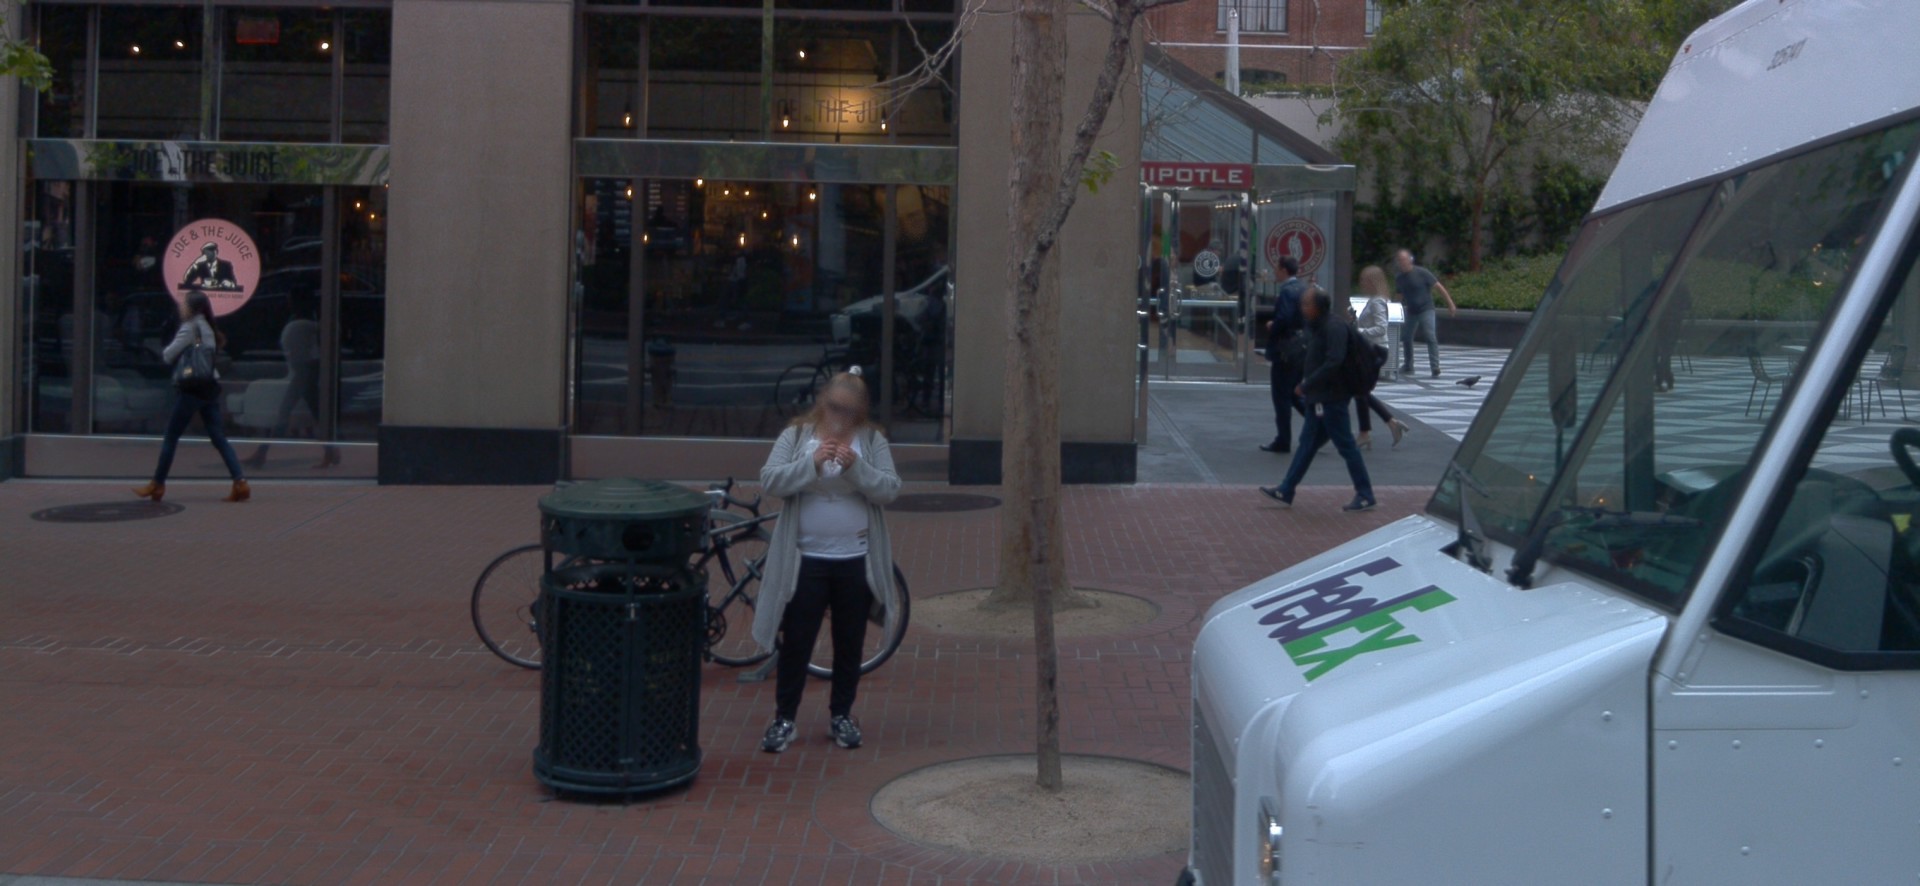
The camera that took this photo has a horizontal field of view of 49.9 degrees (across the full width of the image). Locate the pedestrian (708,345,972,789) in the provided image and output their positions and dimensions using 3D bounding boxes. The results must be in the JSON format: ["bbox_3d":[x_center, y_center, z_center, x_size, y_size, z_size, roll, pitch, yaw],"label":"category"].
[{"bbox_3d":[-0.481,0.466,8.698,0.904,1.701,0.918,0,1,11],"label":"pedestrian"}]

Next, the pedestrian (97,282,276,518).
[{"bbox_3d":[-5.832,-0.355,15.606,0.937,1.711,0.903,0,1,9],"label":"pedestrian"}]

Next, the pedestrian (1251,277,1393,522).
[{"bbox_3d":[2.675,-0.346,15.316,0.894,1.761,0.753,0,1,-3],"label":"pedestrian"}]

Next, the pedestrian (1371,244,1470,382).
[{"bbox_3d":[6.140,-1.759,27.504,0.878,1.791,1.059,1,1,42],"label":"pedestrian"}]

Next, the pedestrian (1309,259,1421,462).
[{"bbox_3d":[3.742,-0.788,19.024,0.981,1.801,0.891,0,1,13],"label":"pedestrian"}]

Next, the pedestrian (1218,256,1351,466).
[{"bbox_3d":[2.946,-0.777,18.738,0.792,1.841,0.944,1,1,45],"label":"pedestrian"}]
